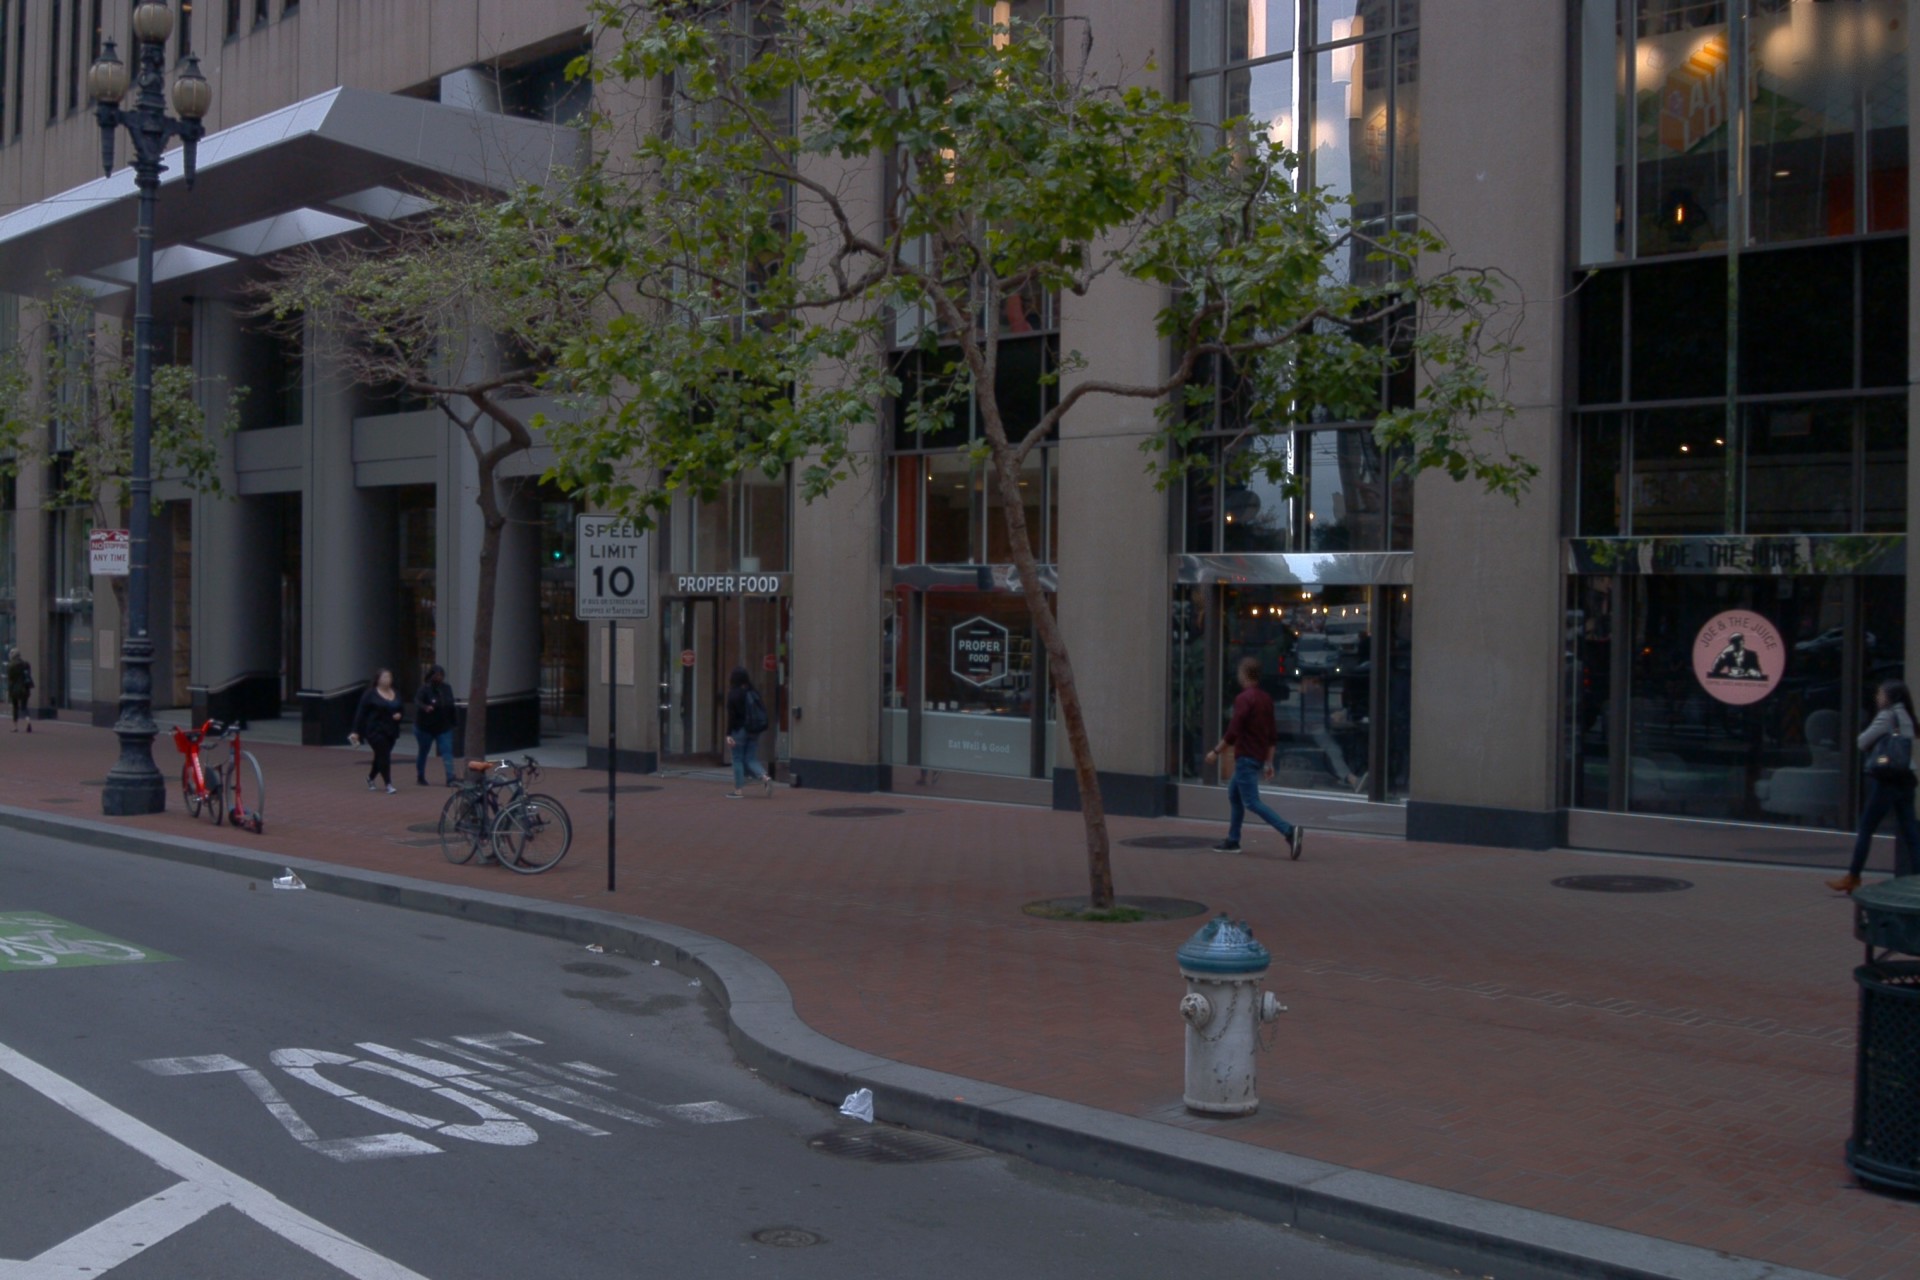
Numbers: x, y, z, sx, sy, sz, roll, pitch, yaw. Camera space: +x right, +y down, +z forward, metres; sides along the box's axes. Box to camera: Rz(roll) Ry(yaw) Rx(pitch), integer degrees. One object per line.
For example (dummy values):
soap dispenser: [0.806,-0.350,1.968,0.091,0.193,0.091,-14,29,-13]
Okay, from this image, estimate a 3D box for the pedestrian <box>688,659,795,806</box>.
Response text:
pedestrian: [-2.635,1.089,24.718,0.984,1.710,0.846,0,0,45]

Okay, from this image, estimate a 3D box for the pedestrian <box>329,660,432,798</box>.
pedestrian: [-7.436,1.117,26.277,0.894,1.710,1.015,0,0,-44]

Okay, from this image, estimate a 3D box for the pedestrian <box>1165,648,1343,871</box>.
pedestrian: [2.637,1.031,18.407,1.272,1.910,0.945,0,0,40]

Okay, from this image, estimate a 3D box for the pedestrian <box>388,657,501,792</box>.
pedestrian: [-6.761,1.084,26.868,0.901,1.700,1.319,0,0,-44]
